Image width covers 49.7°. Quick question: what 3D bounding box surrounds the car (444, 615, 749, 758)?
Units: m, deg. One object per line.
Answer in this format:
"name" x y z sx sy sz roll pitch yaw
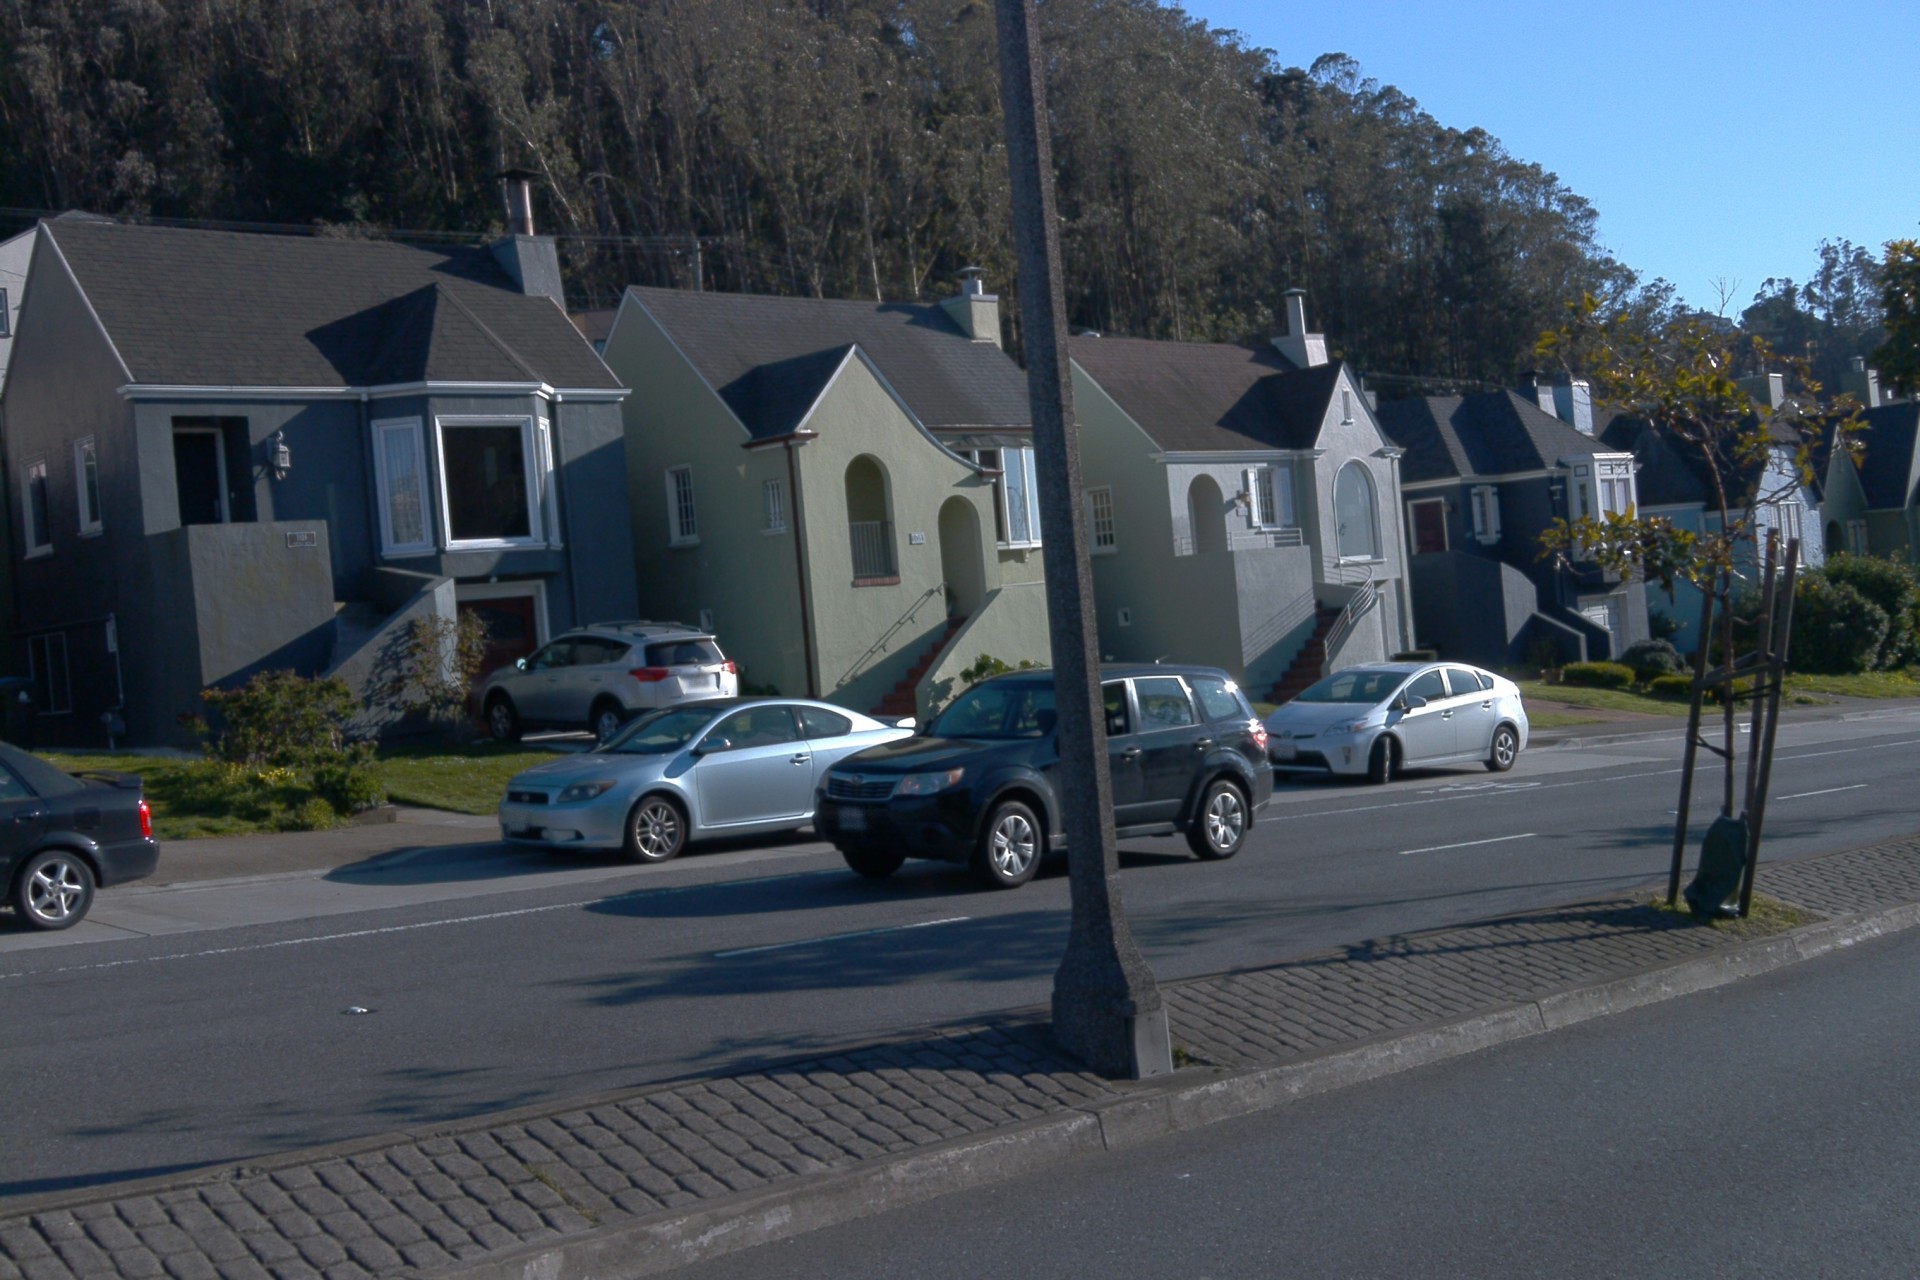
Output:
"car" -5.098 0.590 28.729 4.443 1.830 1.922 0 0 44

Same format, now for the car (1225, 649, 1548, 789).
"car" 5.641 0.960 27.098 4.503 1.630 1.896 -1 0 -43

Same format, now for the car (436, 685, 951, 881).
"car" -2.377 1.223 19.310 4.503 1.490 1.896 -1 0 -44

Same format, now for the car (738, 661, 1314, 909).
"car" 0.659 1.034 16.762 4.609 1.650 2.023 -1 0 -45
